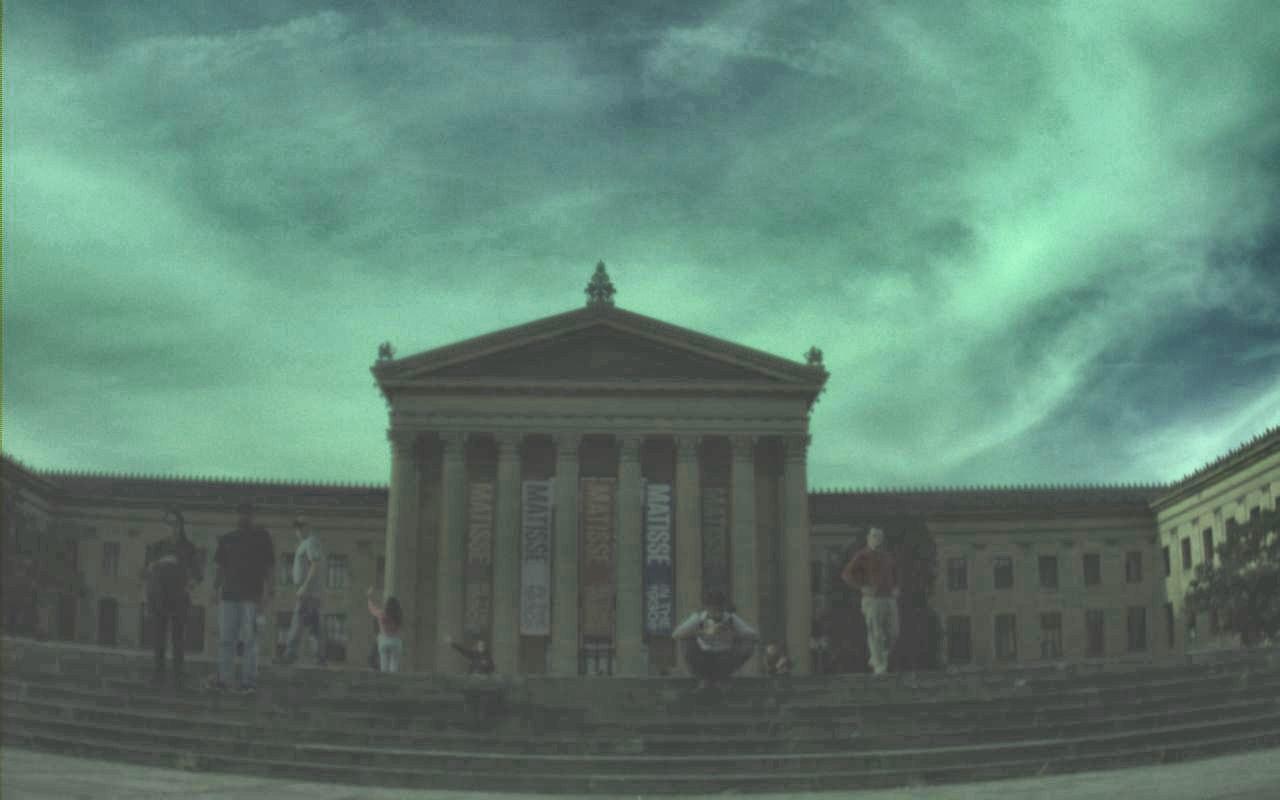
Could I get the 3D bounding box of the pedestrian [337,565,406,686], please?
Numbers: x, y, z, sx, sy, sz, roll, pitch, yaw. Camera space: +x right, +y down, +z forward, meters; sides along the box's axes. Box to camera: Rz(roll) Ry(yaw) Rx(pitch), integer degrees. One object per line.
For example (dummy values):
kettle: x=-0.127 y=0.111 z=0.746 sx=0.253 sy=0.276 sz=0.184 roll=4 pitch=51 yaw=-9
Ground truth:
pedestrian: x=-4.307 y=3.617 z=19.493 sx=0.853 sy=1.803 sz=0.781 roll=0 pitch=0 yaw=8

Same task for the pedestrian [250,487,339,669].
pedestrian: x=-3.891 y=2.006 z=13.586 sx=0.869 sy=1.942 sz=0.792 roll=0 pitch=0 yaw=-8

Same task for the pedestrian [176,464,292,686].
pedestrian: x=-3.581 y=1.537 z=10.505 sx=0.772 sy=1.851 sz=0.778 roll=0 pitch=0 yaw=2

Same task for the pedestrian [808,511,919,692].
pedestrian: x=2.420 y=2.162 z=13.327 sx=0.836 sy=1.808 sz=0.891 roll=1 pitch=0 yaw=37

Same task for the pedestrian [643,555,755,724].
pedestrian: x=0.505 y=2.120 z=11.041 sx=0.863 sy=1.384 sz=0.750 roll=0 pitch=0 yaw=-8
